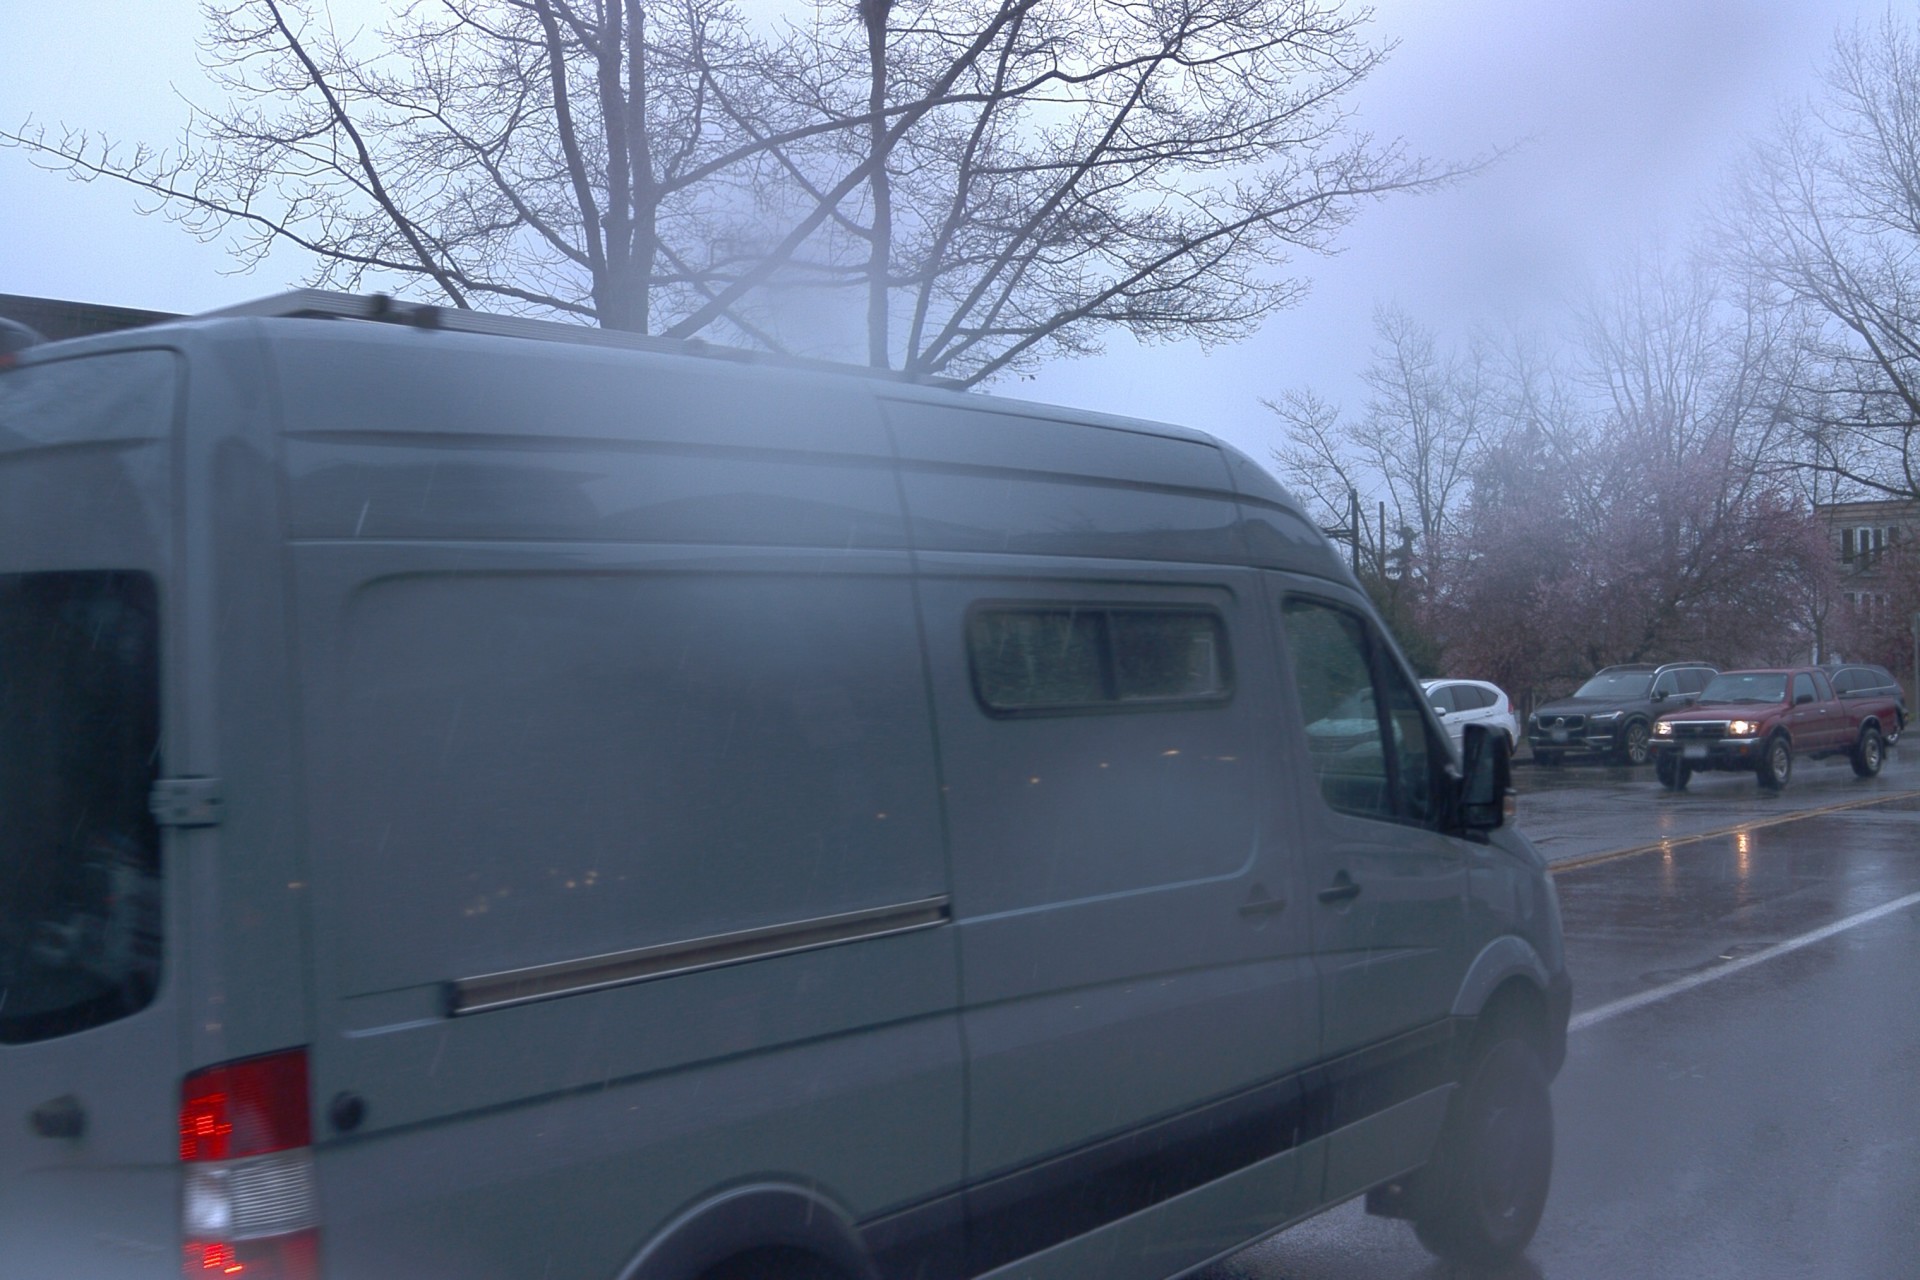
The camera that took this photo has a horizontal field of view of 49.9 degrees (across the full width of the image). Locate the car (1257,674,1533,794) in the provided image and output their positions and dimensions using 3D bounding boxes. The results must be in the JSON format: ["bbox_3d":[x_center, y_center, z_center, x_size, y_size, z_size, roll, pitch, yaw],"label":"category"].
[{"bbox_3d":[6.910,1.412,32.518,2.181,1.610,4.481,1,1,44],"label":"car"}]

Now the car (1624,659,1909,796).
[{"bbox_3d":[11.967,1.205,30.439,5.184,1.750,1.929,-1,1,-44],"label":"car"}]
